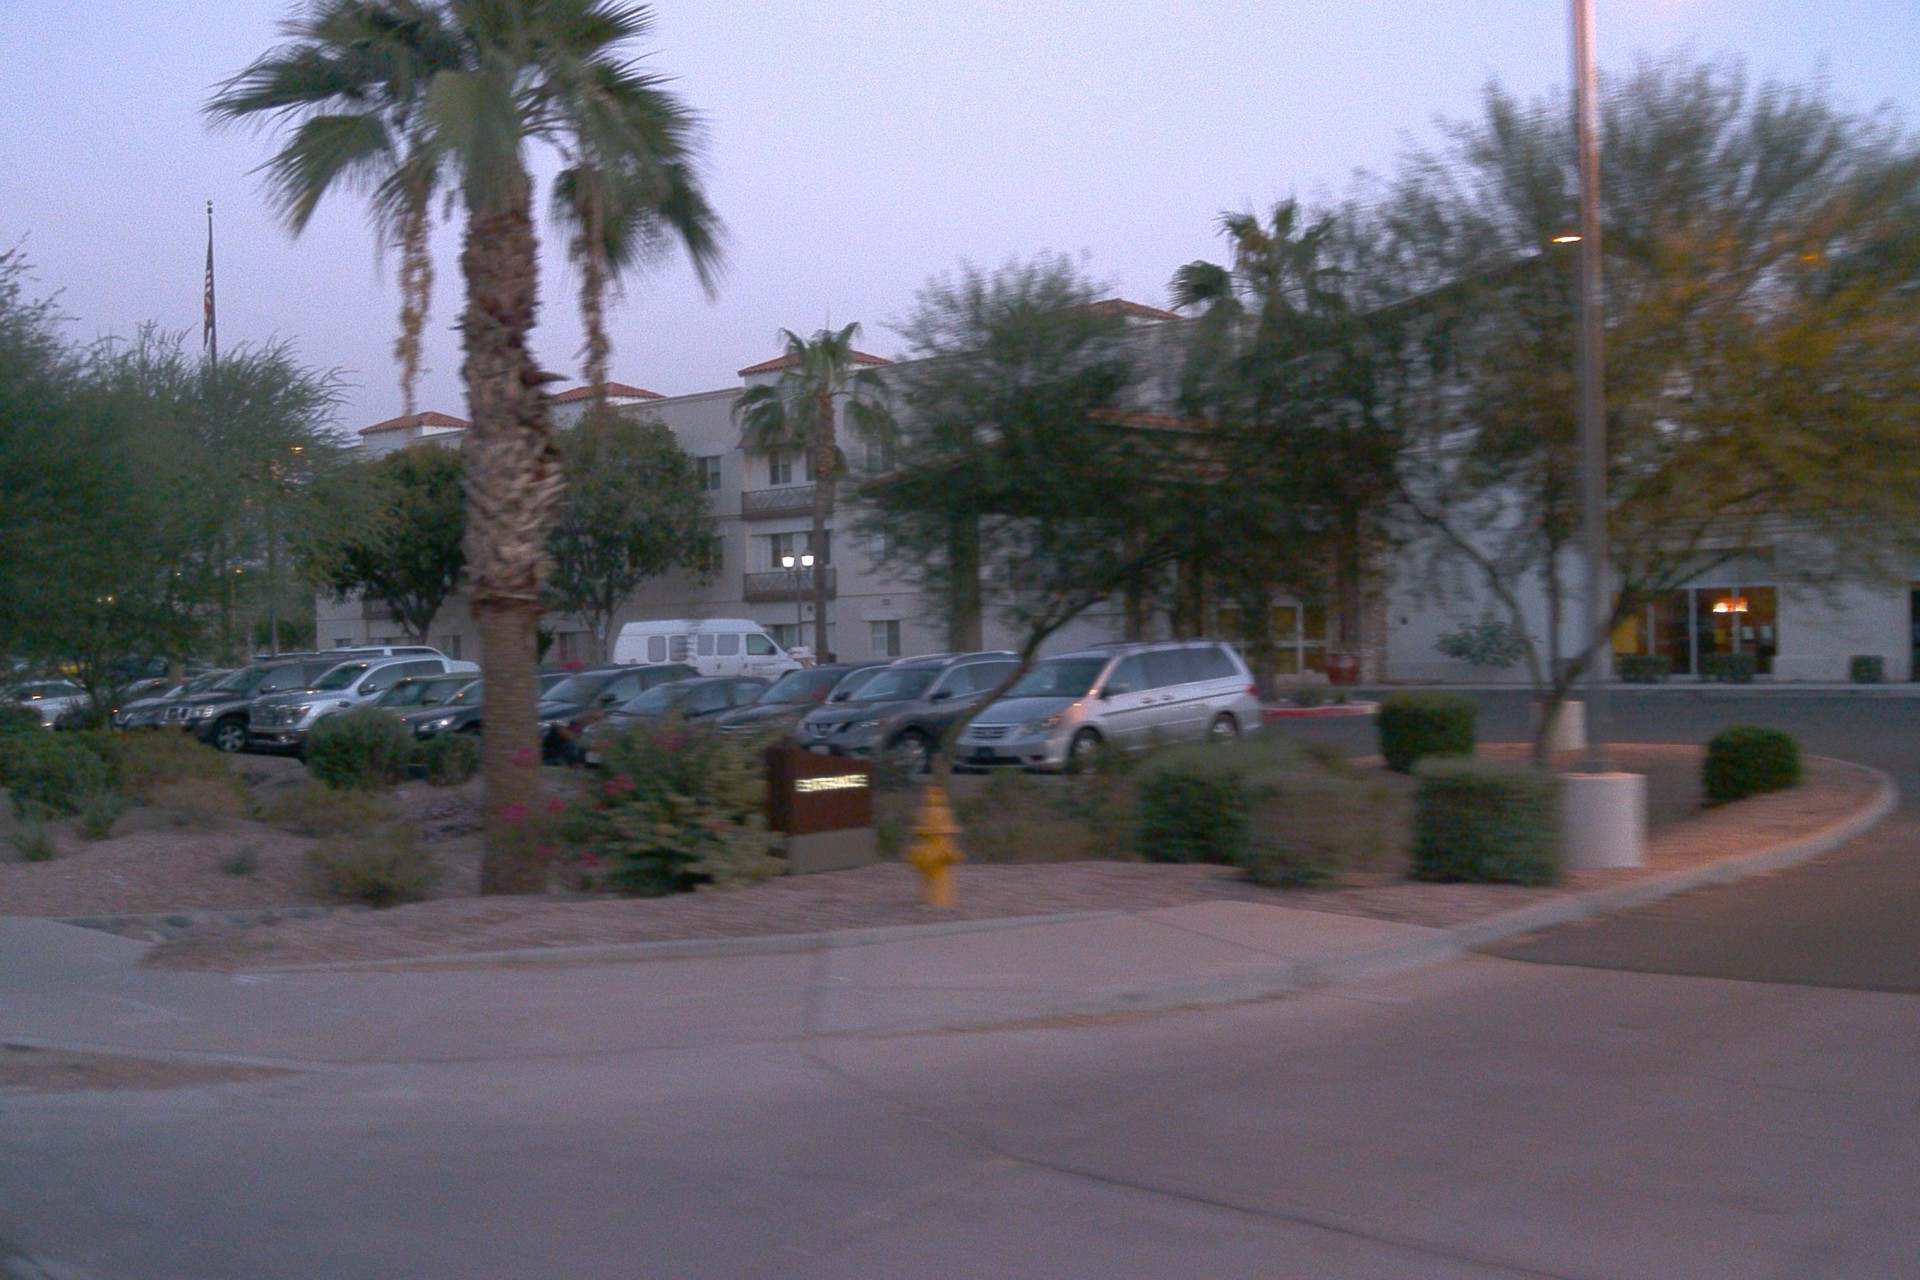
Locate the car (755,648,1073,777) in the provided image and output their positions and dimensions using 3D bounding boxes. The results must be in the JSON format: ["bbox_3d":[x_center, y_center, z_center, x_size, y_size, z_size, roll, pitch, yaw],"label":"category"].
[{"bbox_3d":[-0.597,1.012,30.614,2.056,1.760,4.601,-2,-1,42],"label":"car"}]

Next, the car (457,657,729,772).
[{"bbox_3d":[-6.345,1.254,36.328,2.033,1.880,4.324,-2,-1,41],"label":"car"}]

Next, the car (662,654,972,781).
[{"bbox_3d":[-2.167,1.161,32.727,2.175,1.830,4.668,-2,-1,41],"label":"car"}]

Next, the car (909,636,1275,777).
[{"bbox_3d":[1.916,0.867,28.763,2.236,1.770,5.155,-2,-1,44],"label":"car"}]

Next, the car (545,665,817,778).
[{"bbox_3d":[-4.528,1.287,34.133,1.976,1.710,4.045,-2,-1,44],"label":"car"}]
